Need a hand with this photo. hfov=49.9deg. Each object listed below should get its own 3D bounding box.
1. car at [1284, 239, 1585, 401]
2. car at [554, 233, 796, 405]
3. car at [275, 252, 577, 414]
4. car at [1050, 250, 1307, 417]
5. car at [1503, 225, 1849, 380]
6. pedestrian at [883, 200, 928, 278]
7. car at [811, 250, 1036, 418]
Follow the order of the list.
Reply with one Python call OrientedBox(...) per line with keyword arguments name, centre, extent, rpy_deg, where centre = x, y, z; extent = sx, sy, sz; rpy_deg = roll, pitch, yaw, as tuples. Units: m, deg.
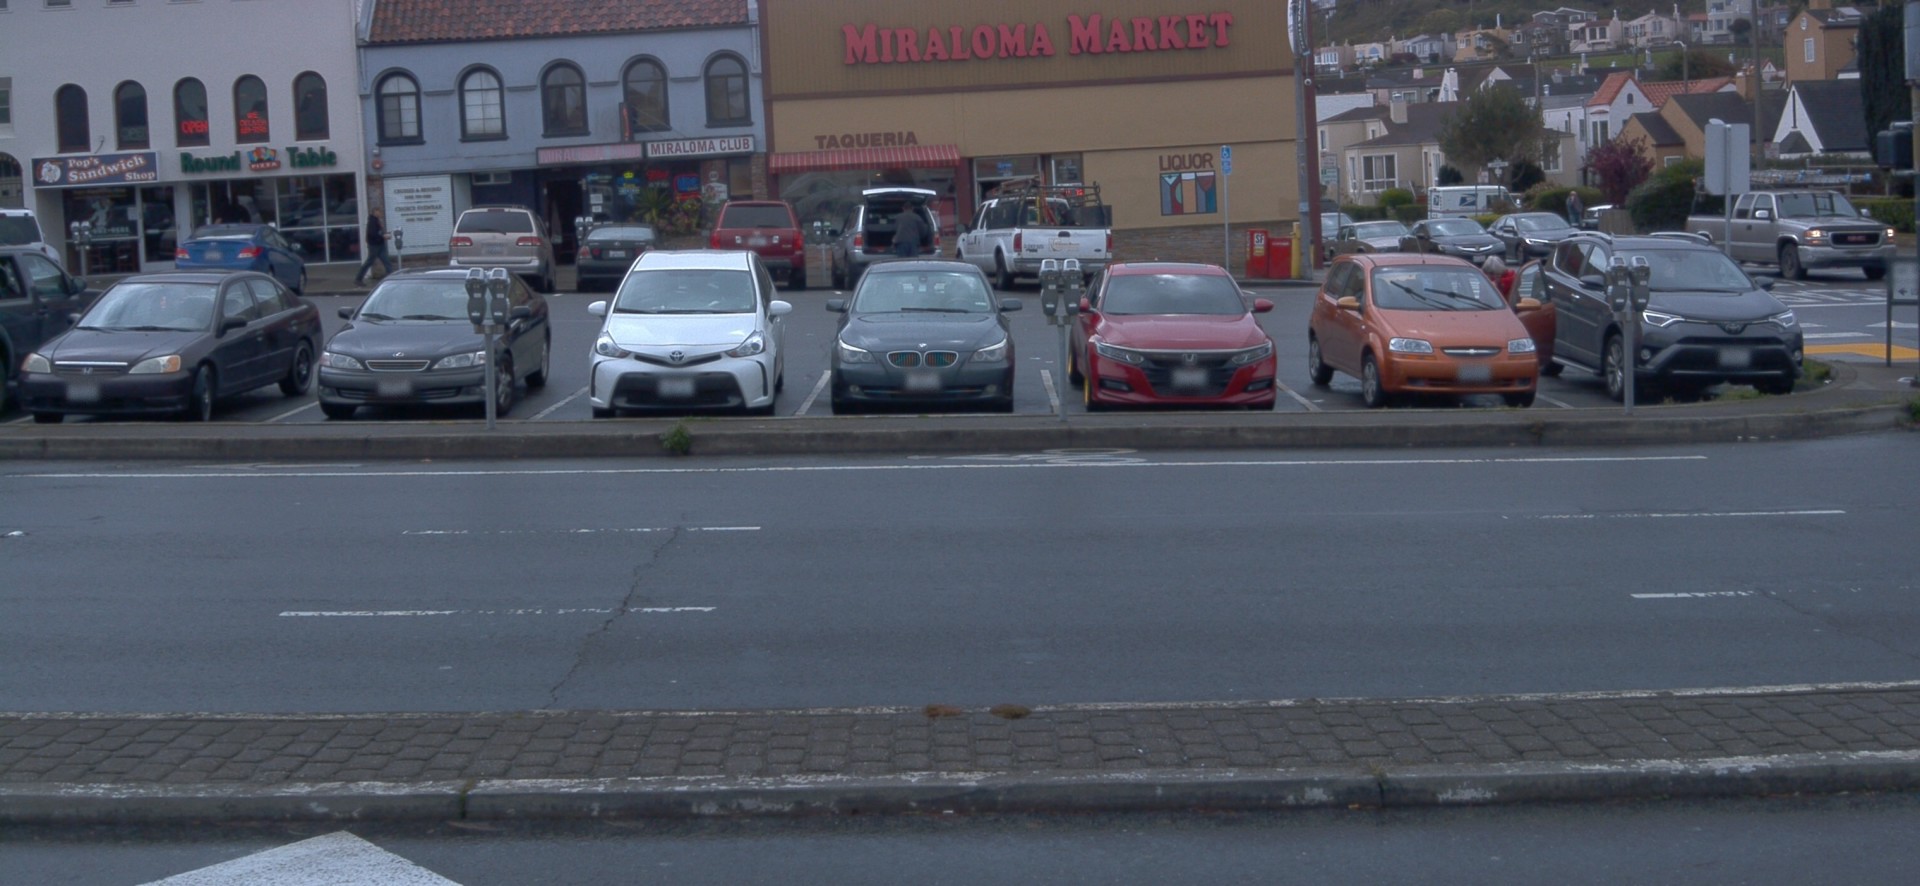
OrientedBox(name="car", centre=(4.882, -1.378, 21.824), extent=(2.049, 1.462, 4.037), rpy_deg=(0, 6, -4))
OrientedBox(name="car", centre=(-2.799, -1.381, 21.308), extent=(2.132, 1.491, 4.678), rpy_deg=(0, 6, -4))
OrientedBox(name="car", centre=(-5.453, -1.249, 21.730), extent=(2.023, 1.392, 4.712), rpy_deg=(0, 6, -1))
OrientedBox(name="car", centre=(2.172, -1.258, 21.857), extent=(2.185, 1.461, 4.636), rpy_deg=(0, 6, -1))
OrientedBox(name="car", centre=(7.654, -1.628, 22.603), extent=(2.205, 1.461, 4.580), rpy_deg=(0, 6, 0))
OrientedBox(name="pedestrian", centre=(-1.031, -3.865, 39.061), extent=(0.705, 1.457, 0.722), rpy_deg=(-1, 2, -15))
OrientedBox(name="car", centre=(-0.392, -1.243, 21.685), extent=(2.112, 1.461, 4.574), rpy_deg=(0, 6, -1))
